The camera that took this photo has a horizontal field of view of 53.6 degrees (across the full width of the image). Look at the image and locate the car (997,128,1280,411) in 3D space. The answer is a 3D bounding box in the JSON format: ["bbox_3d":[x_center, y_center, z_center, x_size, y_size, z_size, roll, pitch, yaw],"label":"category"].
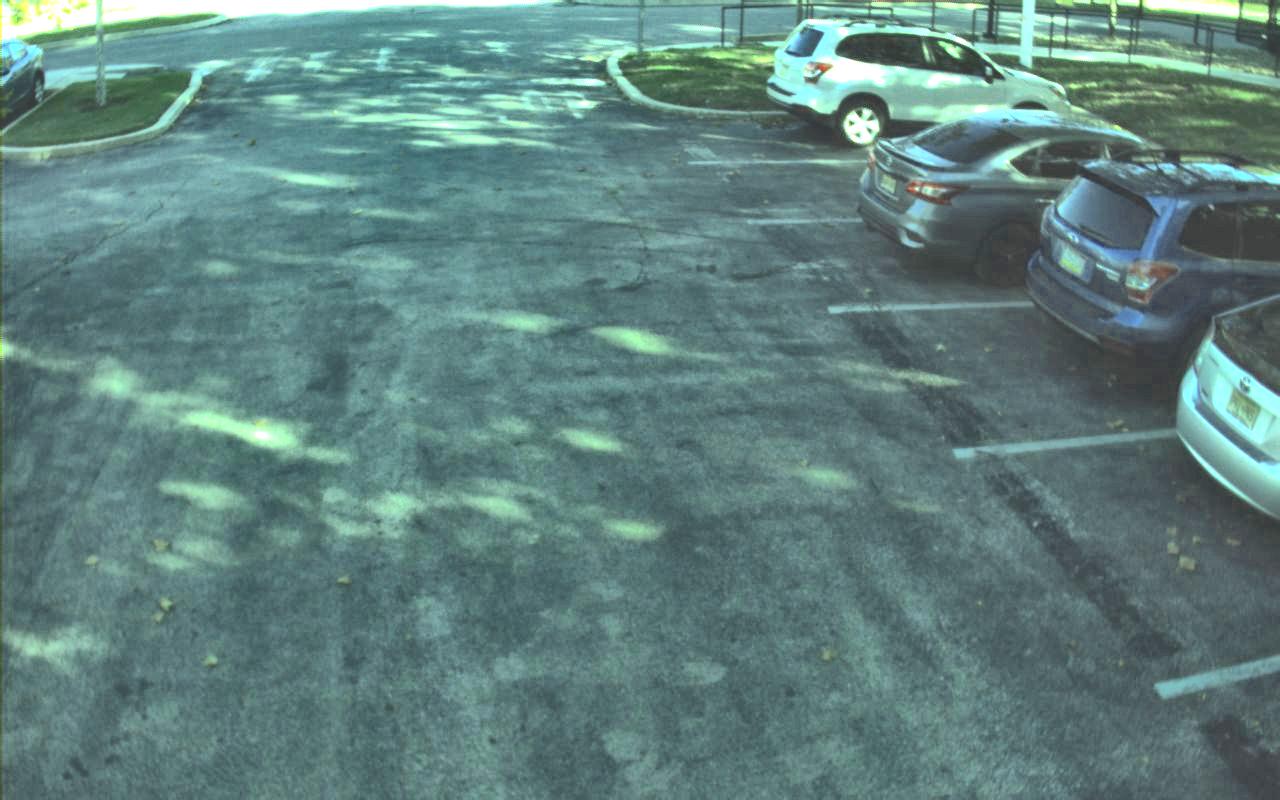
[{"bbox_3d":[5.341,-1.202,9.398,4.502,1.773,1.997,-4,16,-10],"label":"car"}]

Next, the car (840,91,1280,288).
[{"bbox_3d":[4.406,-2.194,11.944,4.499,1.596,1.946,-5,17,-13],"label":"car"}]

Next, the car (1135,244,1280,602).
[{"bbox_3d":[5.622,-0.021,7.014,4.431,1.622,1.968,-2,16,-5],"label":"car"}]

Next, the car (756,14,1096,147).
[{"bbox_3d":[4.141,-4.599,17.401,4.616,1.755,1.996,-4,17,-11],"label":"car"}]
